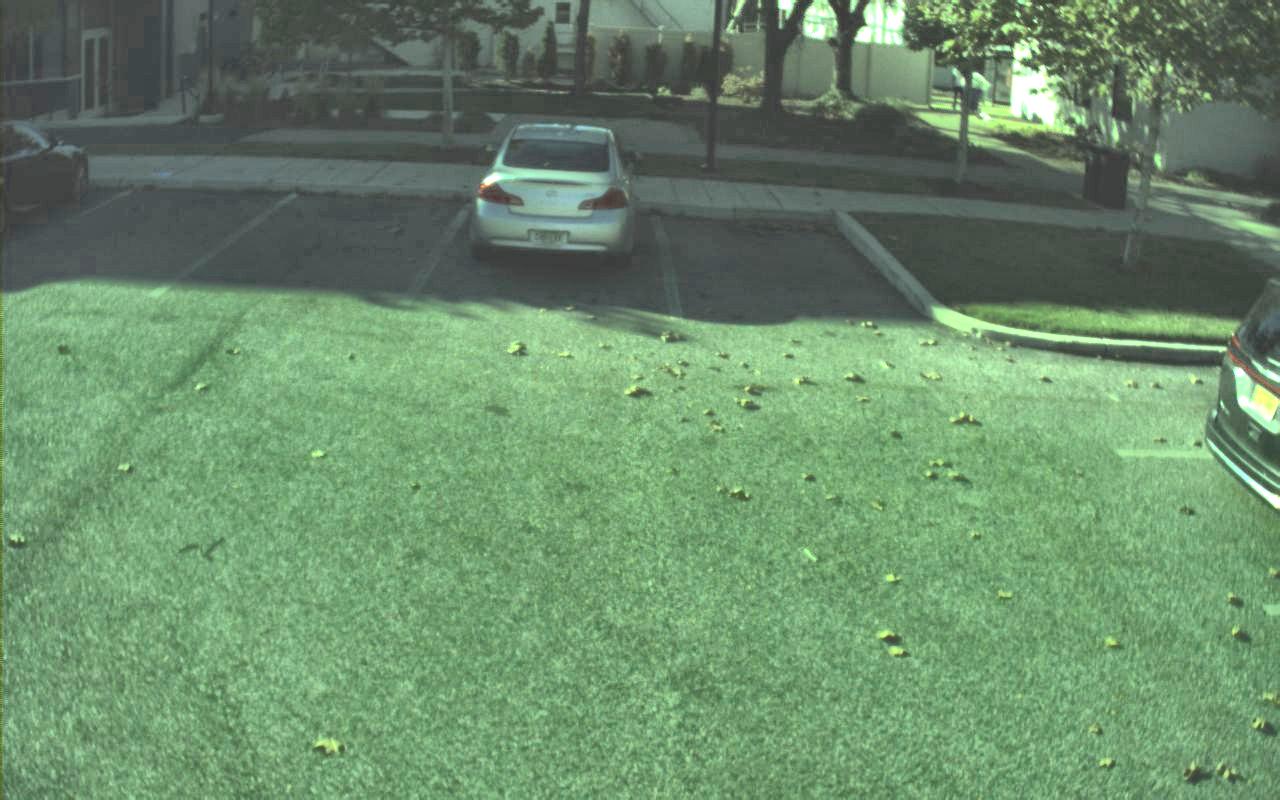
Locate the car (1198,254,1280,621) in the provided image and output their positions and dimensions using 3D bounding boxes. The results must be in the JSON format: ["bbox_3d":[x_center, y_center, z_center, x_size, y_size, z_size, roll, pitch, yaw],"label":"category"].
[{"bbox_3d":[6.313,0.123,7.104,4.644,1.777,2.025,-1,16,-1],"label":"car"}]

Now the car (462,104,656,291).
[{"bbox_3d":[-0.879,-2.524,14.665,1.907,1.578,4.369,-2,17,-2],"label":"car"}]
